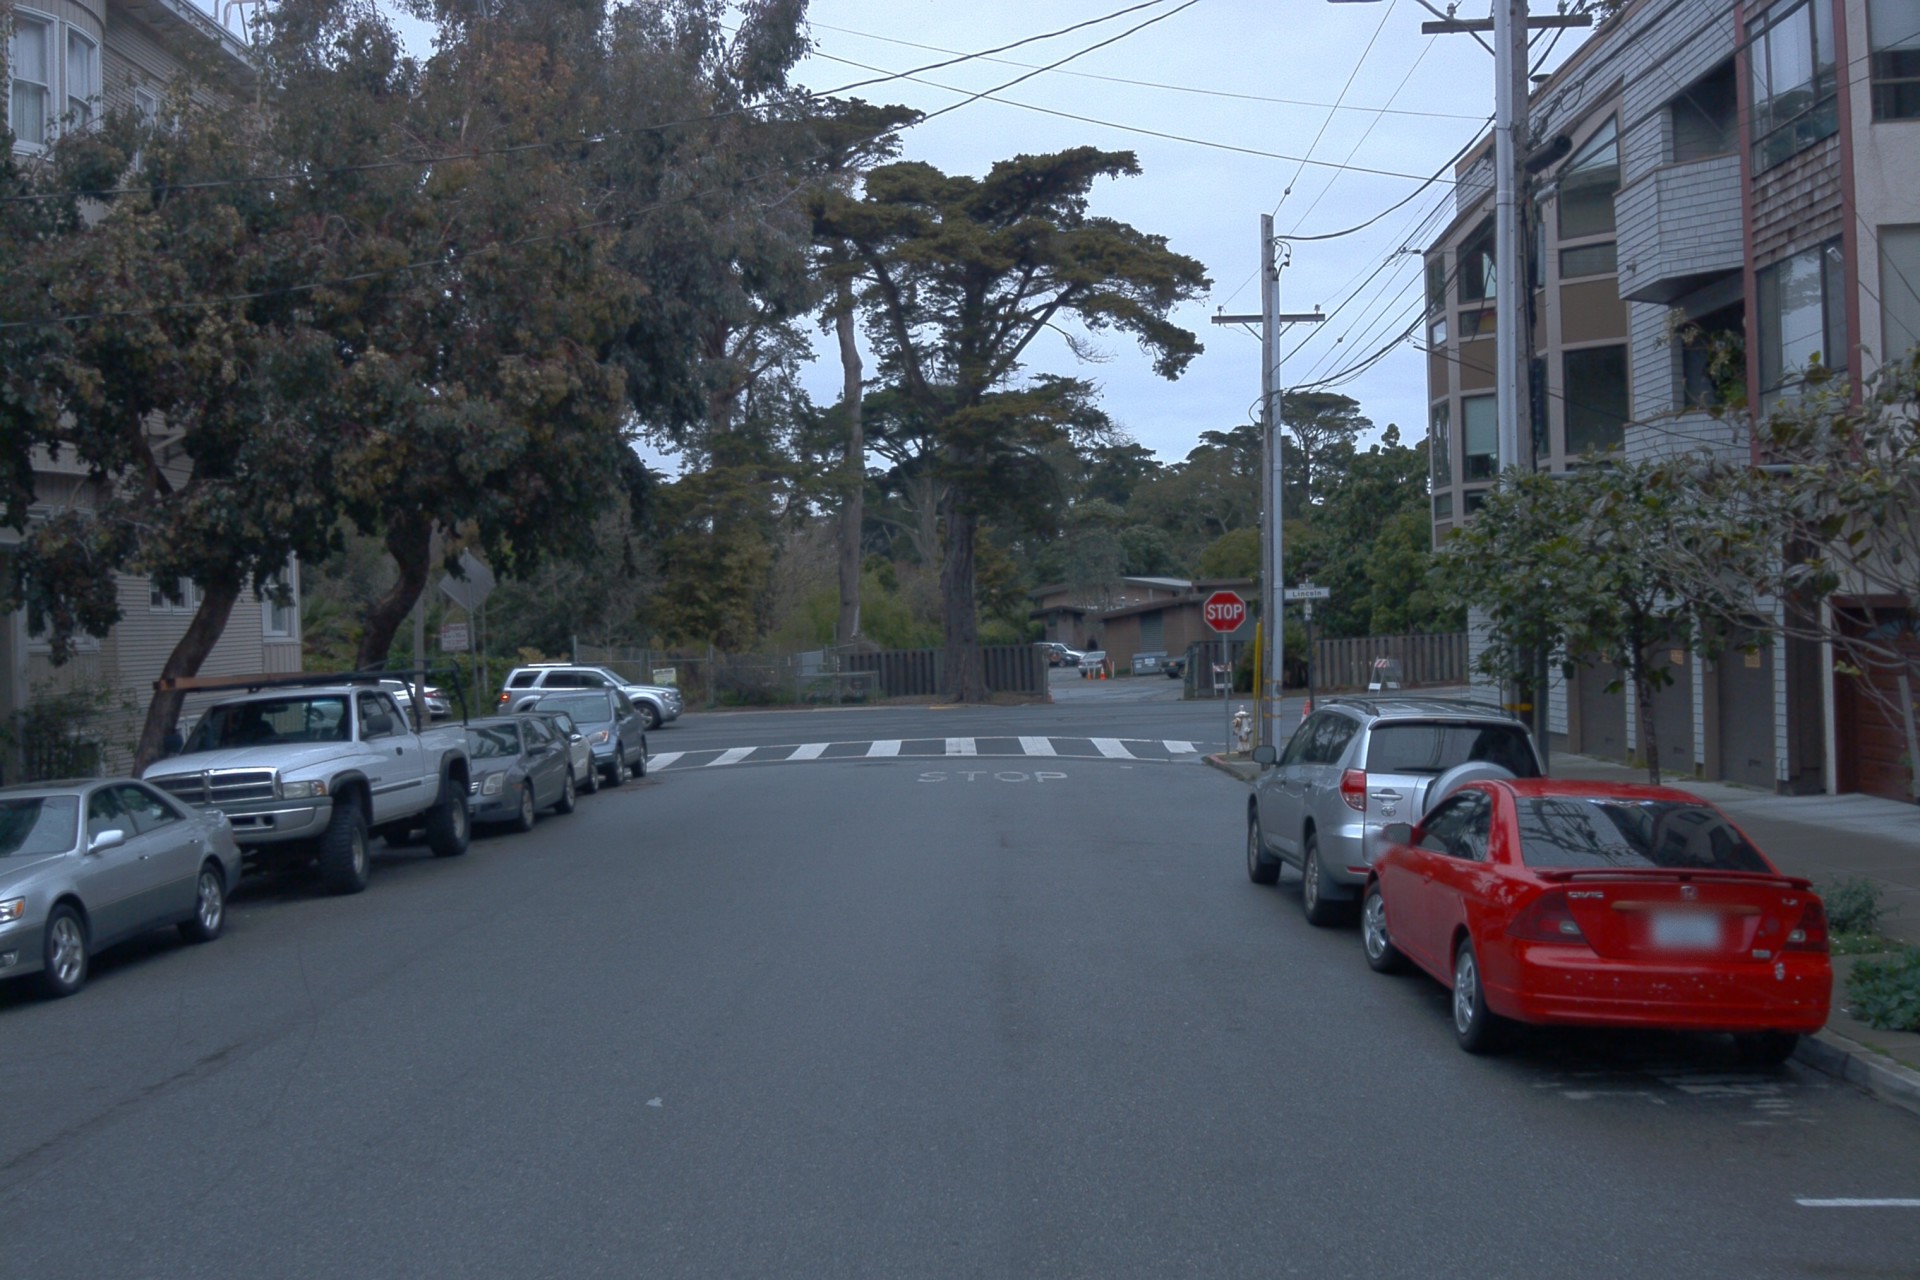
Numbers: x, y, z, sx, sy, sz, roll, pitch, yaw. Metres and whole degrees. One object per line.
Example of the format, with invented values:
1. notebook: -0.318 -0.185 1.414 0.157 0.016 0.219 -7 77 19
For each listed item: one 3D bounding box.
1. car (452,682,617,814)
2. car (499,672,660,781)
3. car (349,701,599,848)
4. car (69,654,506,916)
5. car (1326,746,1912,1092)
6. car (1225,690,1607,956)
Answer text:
1. car: -6.402 1.584 31.368 1.707 1.810 3.676 0 0 0
2. car: -6.496 1.439 35.636 1.948 1.700 4.600 0 0 0
3. car: -6.188 1.671 26.850 2.056 1.600 4.792 0 0 1
4. car: -6.608 1.297 21.236 2.346 2.270 6.089 0 0 2
5. car: 3.513 1.431 12.016 1.981 1.390 4.632 0 0 1
6. car: 3.497 1.336 16.783 2.050 1.750 4.740 0 0 0
